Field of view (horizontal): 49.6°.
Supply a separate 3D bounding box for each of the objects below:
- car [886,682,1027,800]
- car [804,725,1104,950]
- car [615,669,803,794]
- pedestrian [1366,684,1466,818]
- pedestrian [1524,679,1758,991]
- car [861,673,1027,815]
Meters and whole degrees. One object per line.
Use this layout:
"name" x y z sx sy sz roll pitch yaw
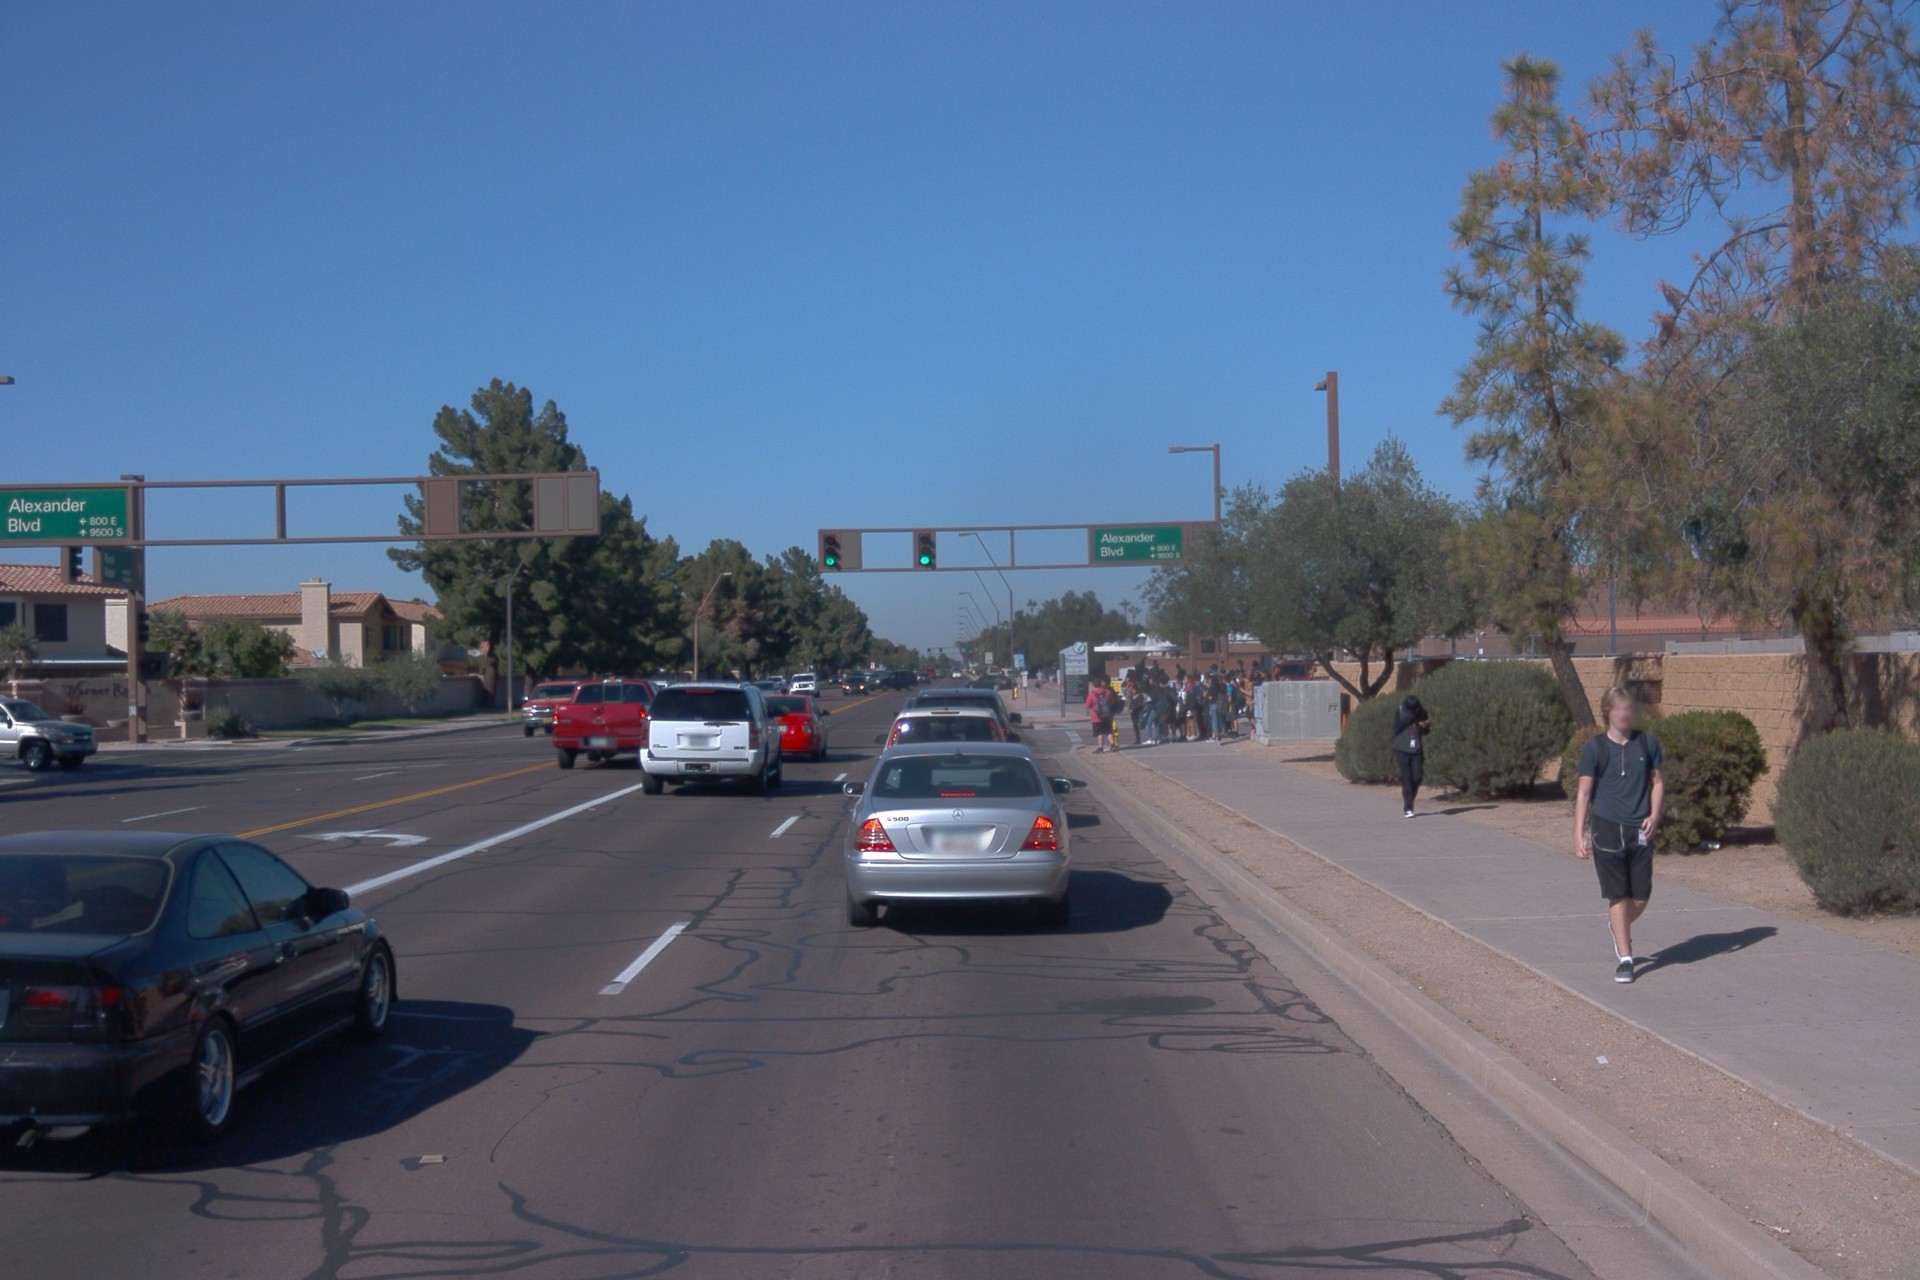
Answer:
"car" 0.022 1.742 37.337 2.322 1.950 4.955 0 -1 2
"car" -0.013 1.590 18.014 2.265 1.600 4.514 0 -1 1
"car" -4.184 1.504 35.554 2.513 1.980 4.967 0 -1 1
"pedestrian" 5.691 1.374 26.017 1.000 1.650 1.000 0 -1 -3
"pedestrian" 4.196 1.166 12.906 1.042 1.840 1.162 0 -1 -2
"car" -0.153 1.332 28.118 2.056 1.760 4.487 0 -1 1
